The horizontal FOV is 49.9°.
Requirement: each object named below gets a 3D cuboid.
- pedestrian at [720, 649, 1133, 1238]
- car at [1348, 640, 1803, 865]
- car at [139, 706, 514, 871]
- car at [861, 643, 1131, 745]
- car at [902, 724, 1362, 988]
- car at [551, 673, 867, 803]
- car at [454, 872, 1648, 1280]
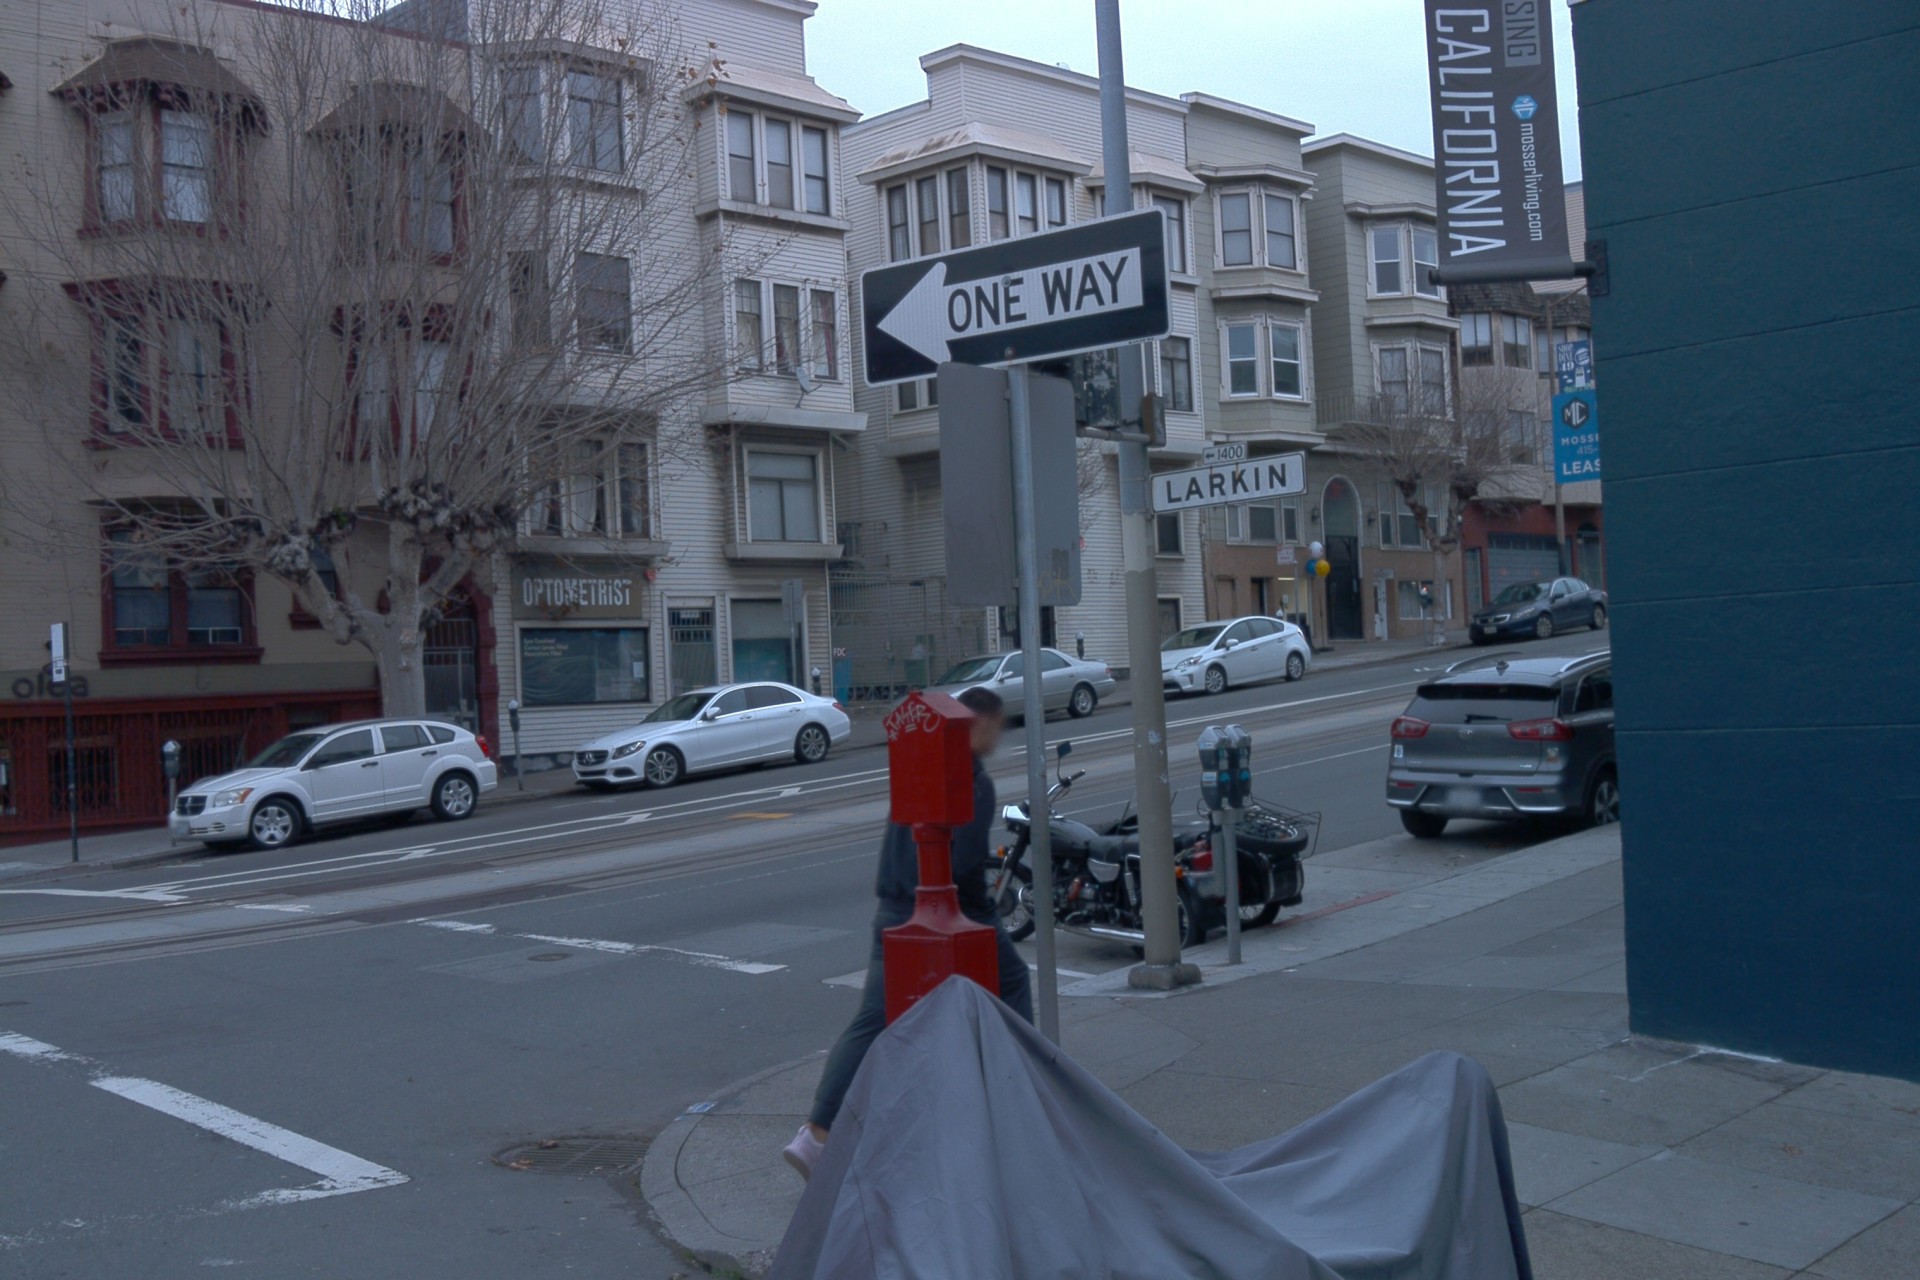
[{"bbox_3d":[-0.110,1.080,8.109,1.450,2.066,0.822,-1,1,-44],"label":"pedestrian"},{"bbox_3d":[5.645,0.882,18.583,2.132,1.717,4.606,0,1,42],"label":"car"},{"bbox_3d":[-8.482,1.914,27.920,2.053,1.847,4.407,1,1,44],"label":"car"},{"bbox_3d":[0.712,0.916,37.121,4.801,1.657,2.084,-1,1,-45],"label":"car"},{"bbox_3d":[1.133,1.377,14.055,2.745,1.460,1.540,0,1,42],"label":"car"},{"bbox_3d":[-3.872,1.462,32.361,4.589,1.757,2.074,-1,1,-44],"label":"car"},{"bbox_3d":[0.332,1.392,4.286,2.490,1.520,1.048,-1,1,-44],"label":"car"}]
